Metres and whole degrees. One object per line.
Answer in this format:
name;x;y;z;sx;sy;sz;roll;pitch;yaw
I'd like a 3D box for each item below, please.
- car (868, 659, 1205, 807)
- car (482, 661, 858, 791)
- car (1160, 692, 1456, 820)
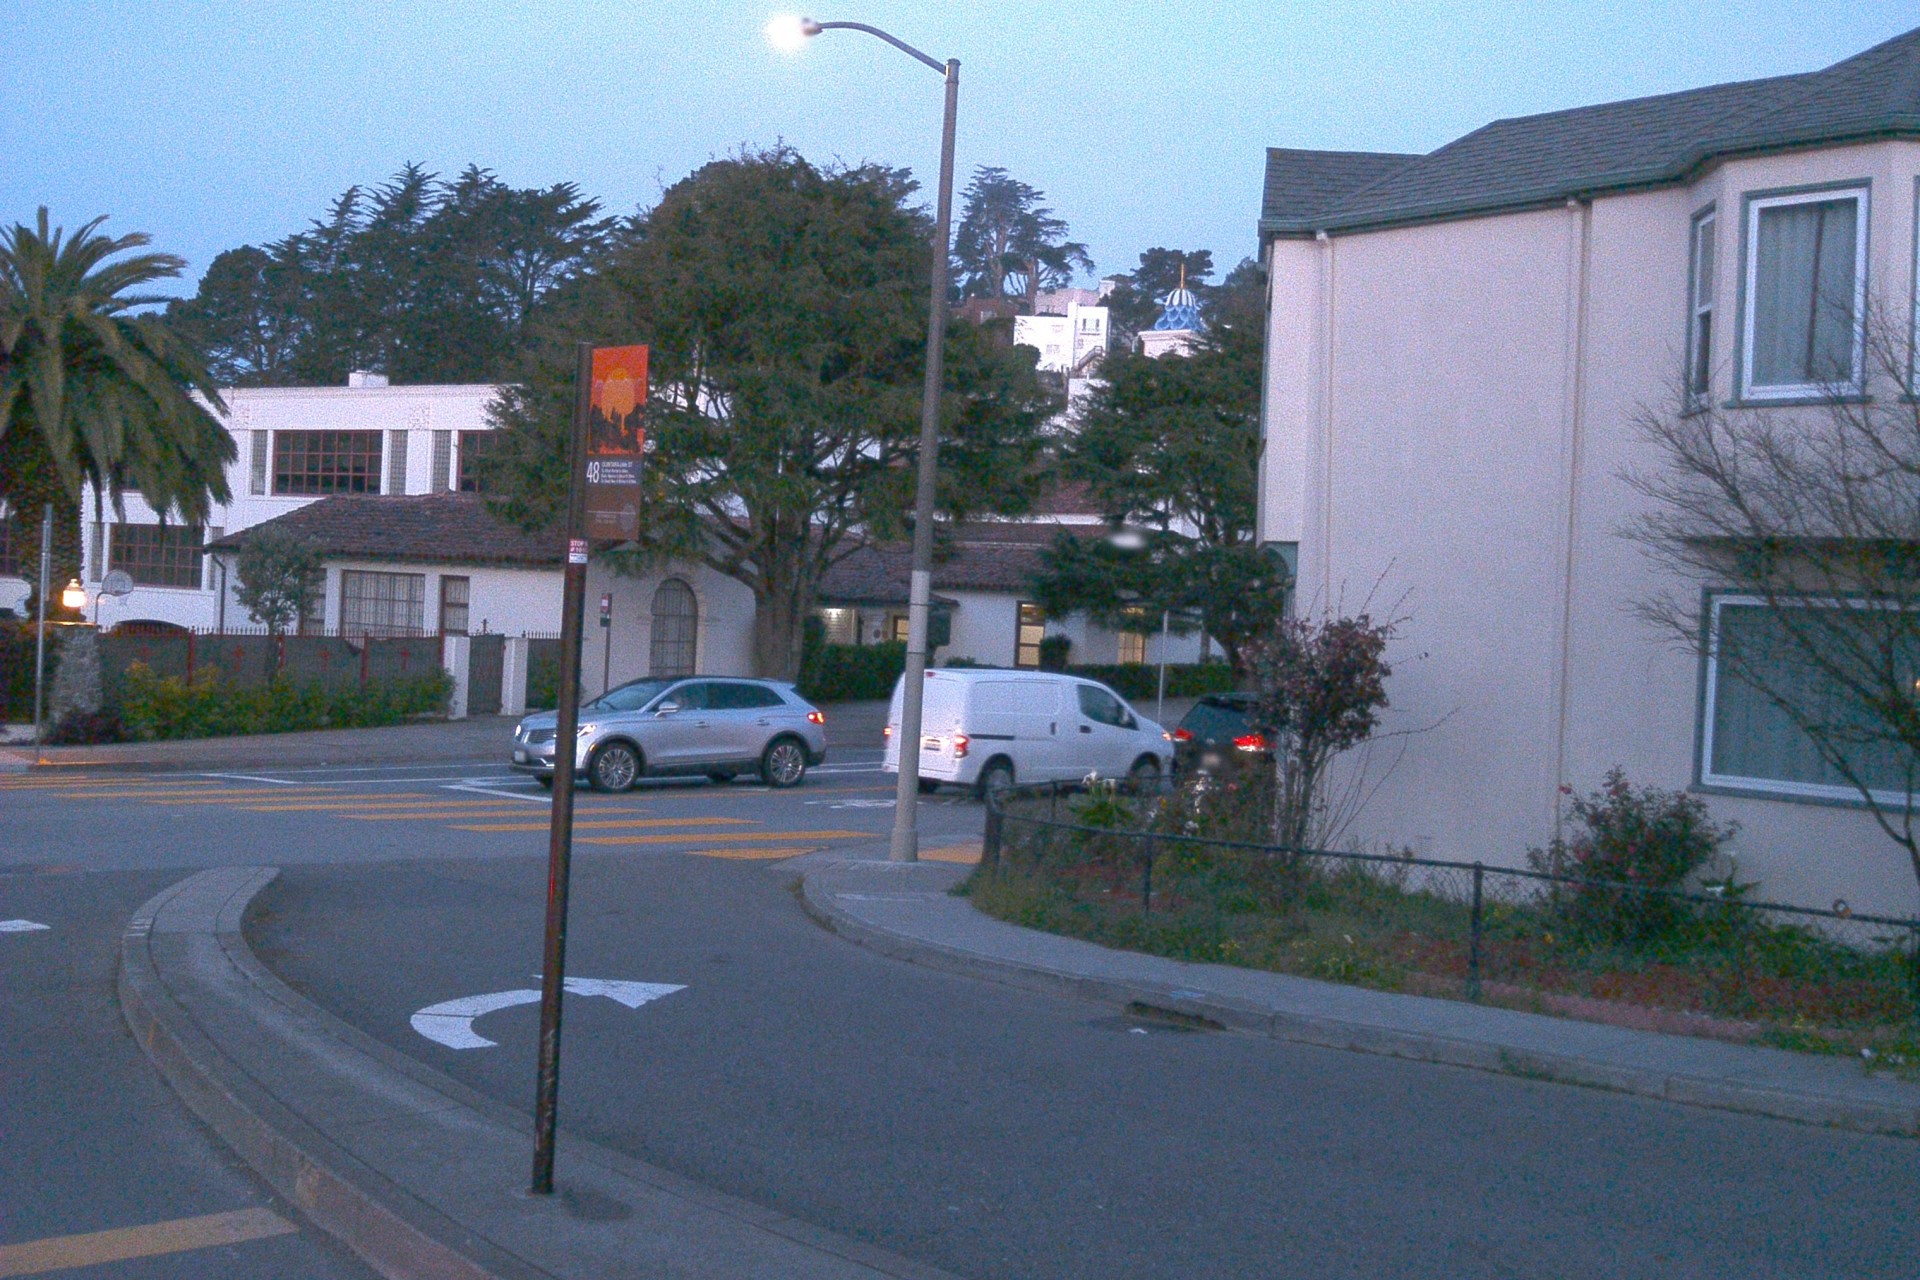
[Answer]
car;1.192;1.294;30.947;4.816;2.000;2.113;1;0;-41
car;-4.179;1.196;30.665;5.027;1.730;2.150;1;0;-39
car;5.027;1.617;30.201;3.819;1.660;2.058;1;0;-34
